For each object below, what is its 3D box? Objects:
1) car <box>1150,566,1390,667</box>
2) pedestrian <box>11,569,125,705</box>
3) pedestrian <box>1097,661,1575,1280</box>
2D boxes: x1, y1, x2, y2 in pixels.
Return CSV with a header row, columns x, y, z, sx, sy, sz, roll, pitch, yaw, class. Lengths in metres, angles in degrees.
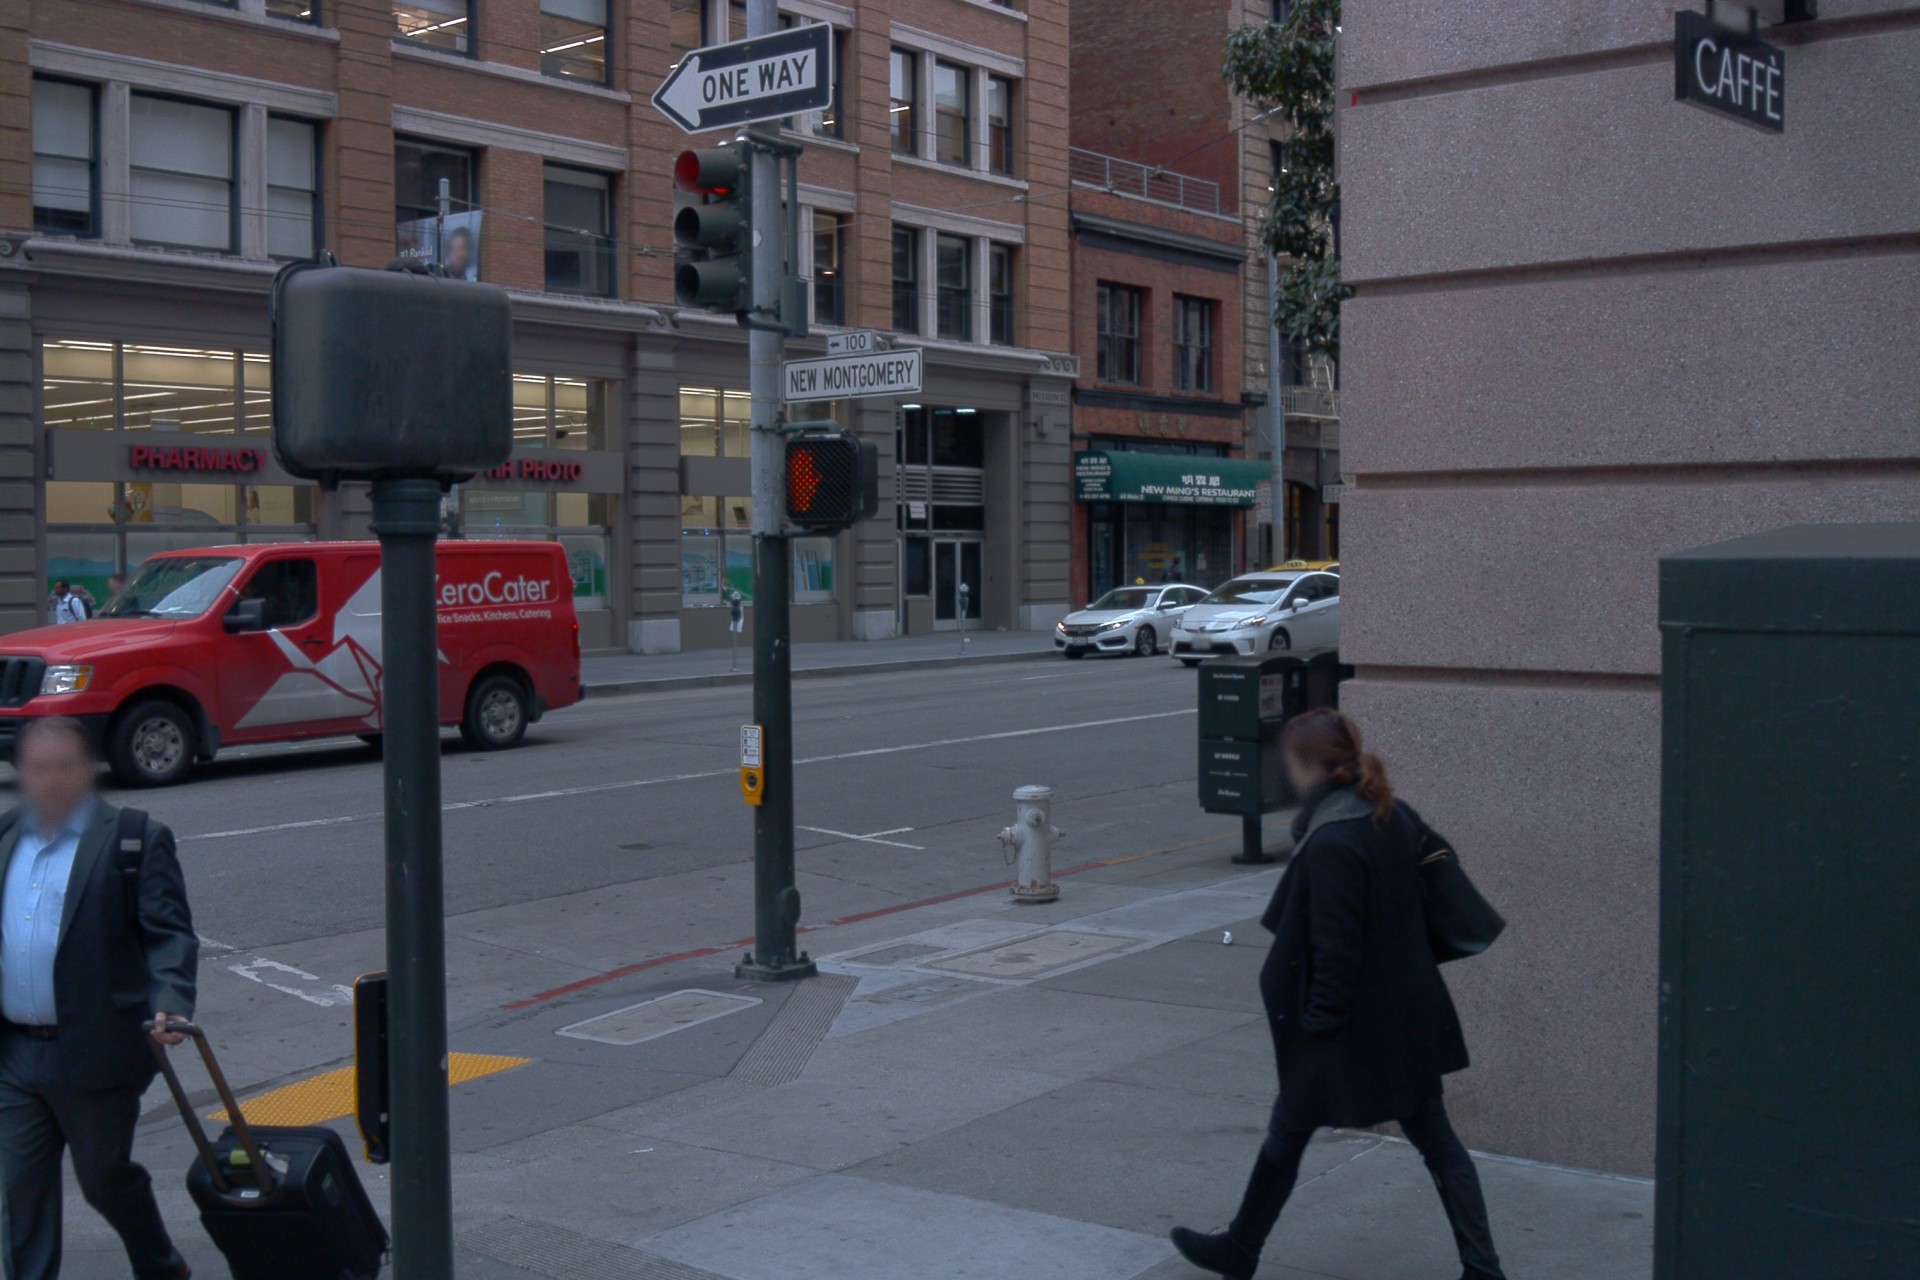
x,y,z,sx,sy,sz,roll,pitch,yaw,class
5.124,-0.381,33.750,1.948,1.550,4.391,0,1,39,car
-11.968,-0.041,27.719,0.862,1.780,1.121,0,1,37,pedestrian
0.972,0.917,5.346,0.963,1.700,0.780,0,1,38,pedestrian
